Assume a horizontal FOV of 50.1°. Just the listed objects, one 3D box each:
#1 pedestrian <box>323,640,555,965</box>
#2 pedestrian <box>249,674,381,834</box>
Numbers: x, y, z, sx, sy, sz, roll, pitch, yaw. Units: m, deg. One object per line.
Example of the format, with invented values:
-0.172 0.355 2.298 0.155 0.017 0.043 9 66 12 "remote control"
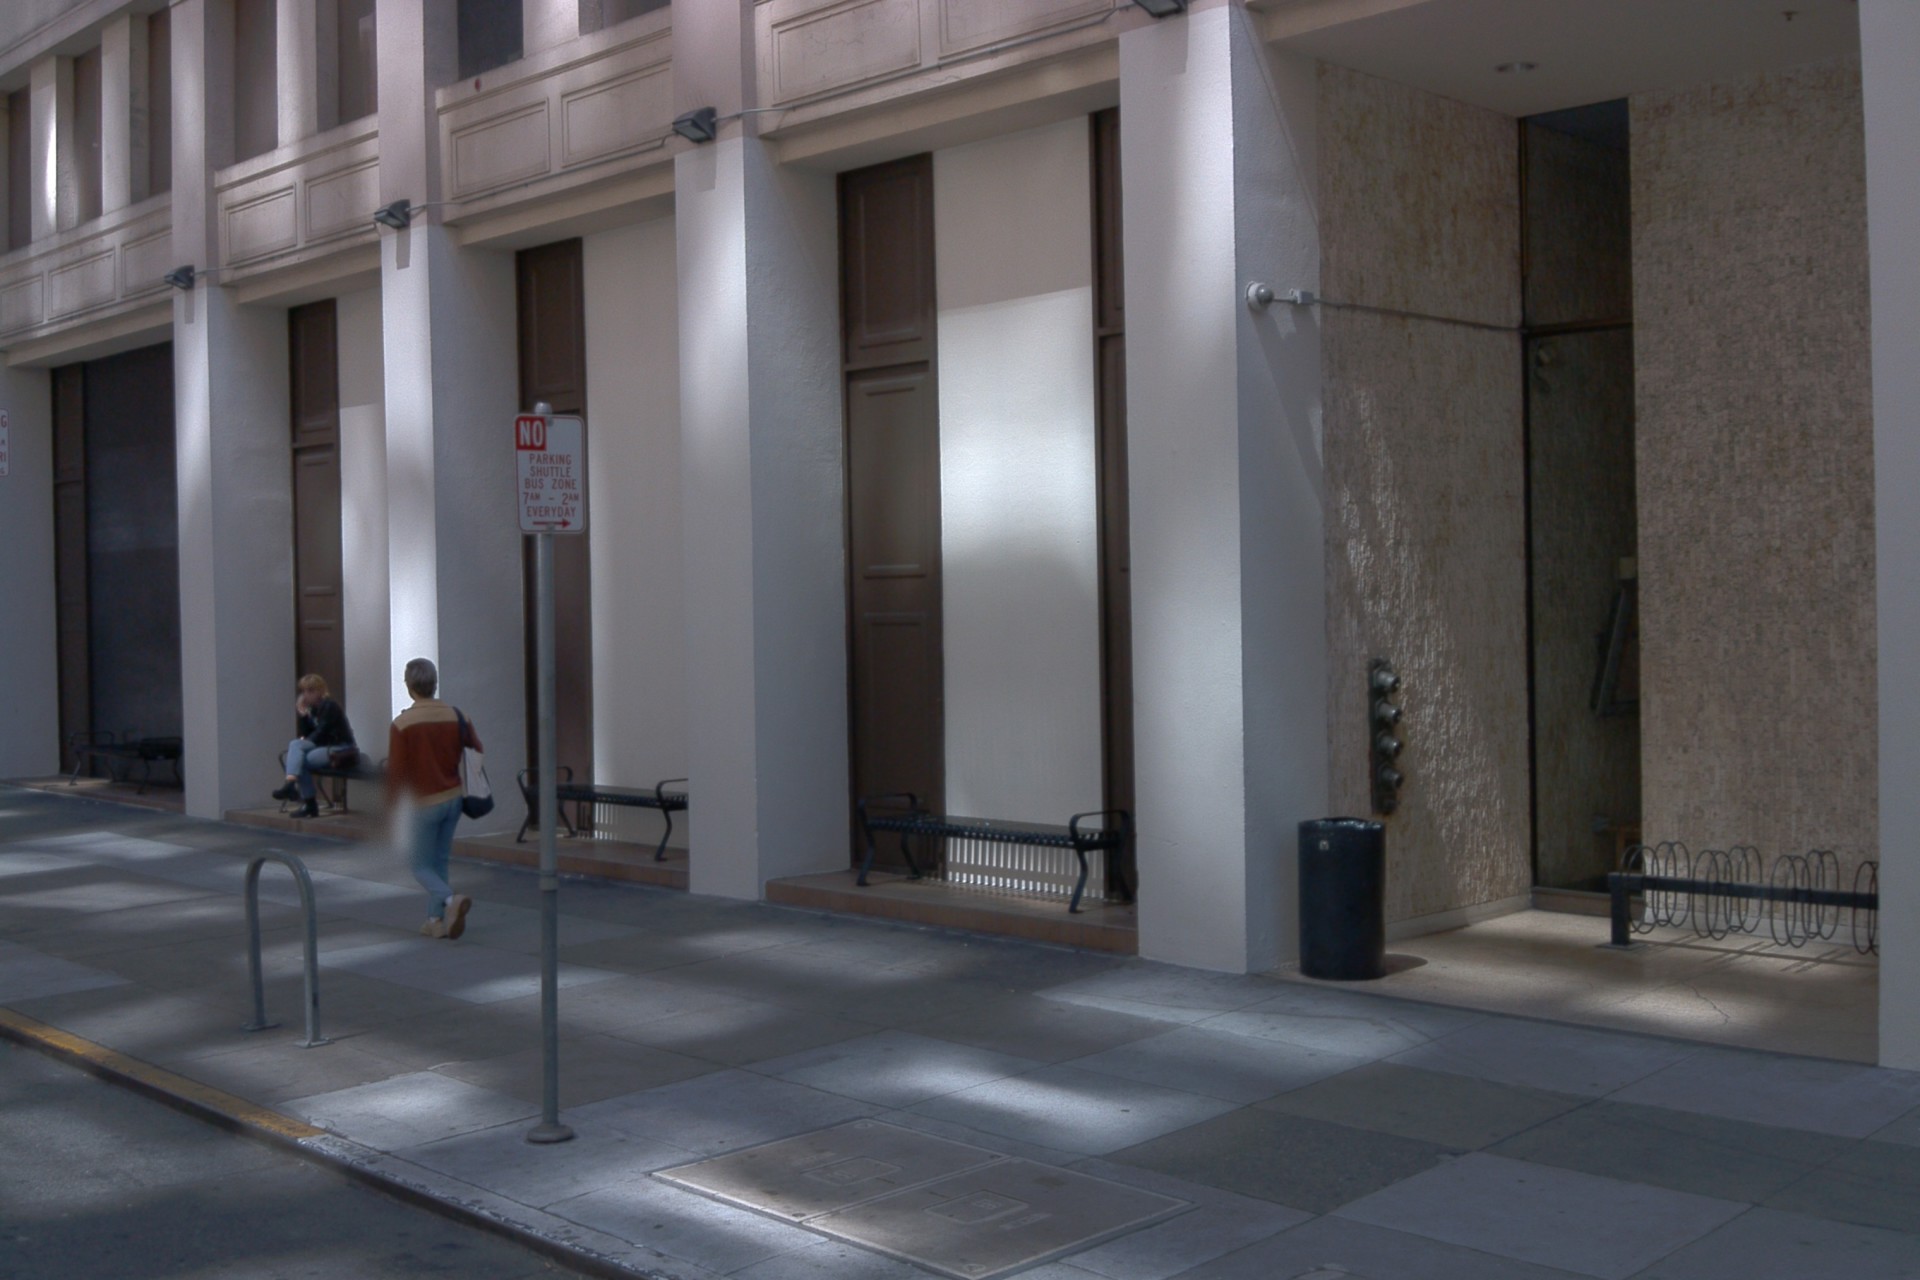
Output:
-3.162 0.928 12.467 1.146 1.846 0.893 0 0 44 "pedestrian"
-5.657 0.976 18.036 0.902 1.330 0.662 0 0 -44 "pedestrian"
